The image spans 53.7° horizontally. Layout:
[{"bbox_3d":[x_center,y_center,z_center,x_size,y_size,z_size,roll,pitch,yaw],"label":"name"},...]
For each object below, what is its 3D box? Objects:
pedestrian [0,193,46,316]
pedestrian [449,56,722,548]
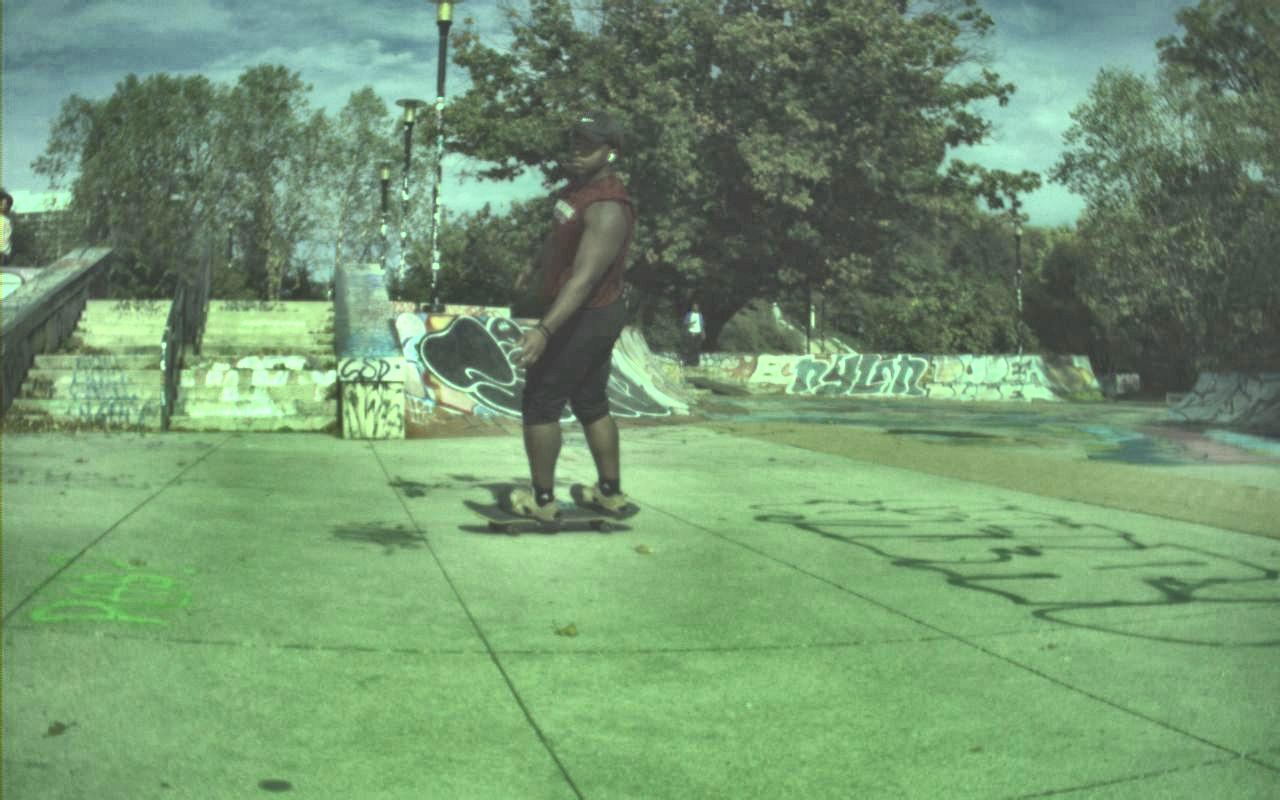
[{"bbox_3d":[-9.643,-2.149,17.060,0.719,1.808,0.747,1,0,21],"label":"pedestrian"},{"bbox_3d":[-0.247,-0.362,4.857,0.950,1.744,0.840,0,0,-11],"label":"pedestrian"}]
